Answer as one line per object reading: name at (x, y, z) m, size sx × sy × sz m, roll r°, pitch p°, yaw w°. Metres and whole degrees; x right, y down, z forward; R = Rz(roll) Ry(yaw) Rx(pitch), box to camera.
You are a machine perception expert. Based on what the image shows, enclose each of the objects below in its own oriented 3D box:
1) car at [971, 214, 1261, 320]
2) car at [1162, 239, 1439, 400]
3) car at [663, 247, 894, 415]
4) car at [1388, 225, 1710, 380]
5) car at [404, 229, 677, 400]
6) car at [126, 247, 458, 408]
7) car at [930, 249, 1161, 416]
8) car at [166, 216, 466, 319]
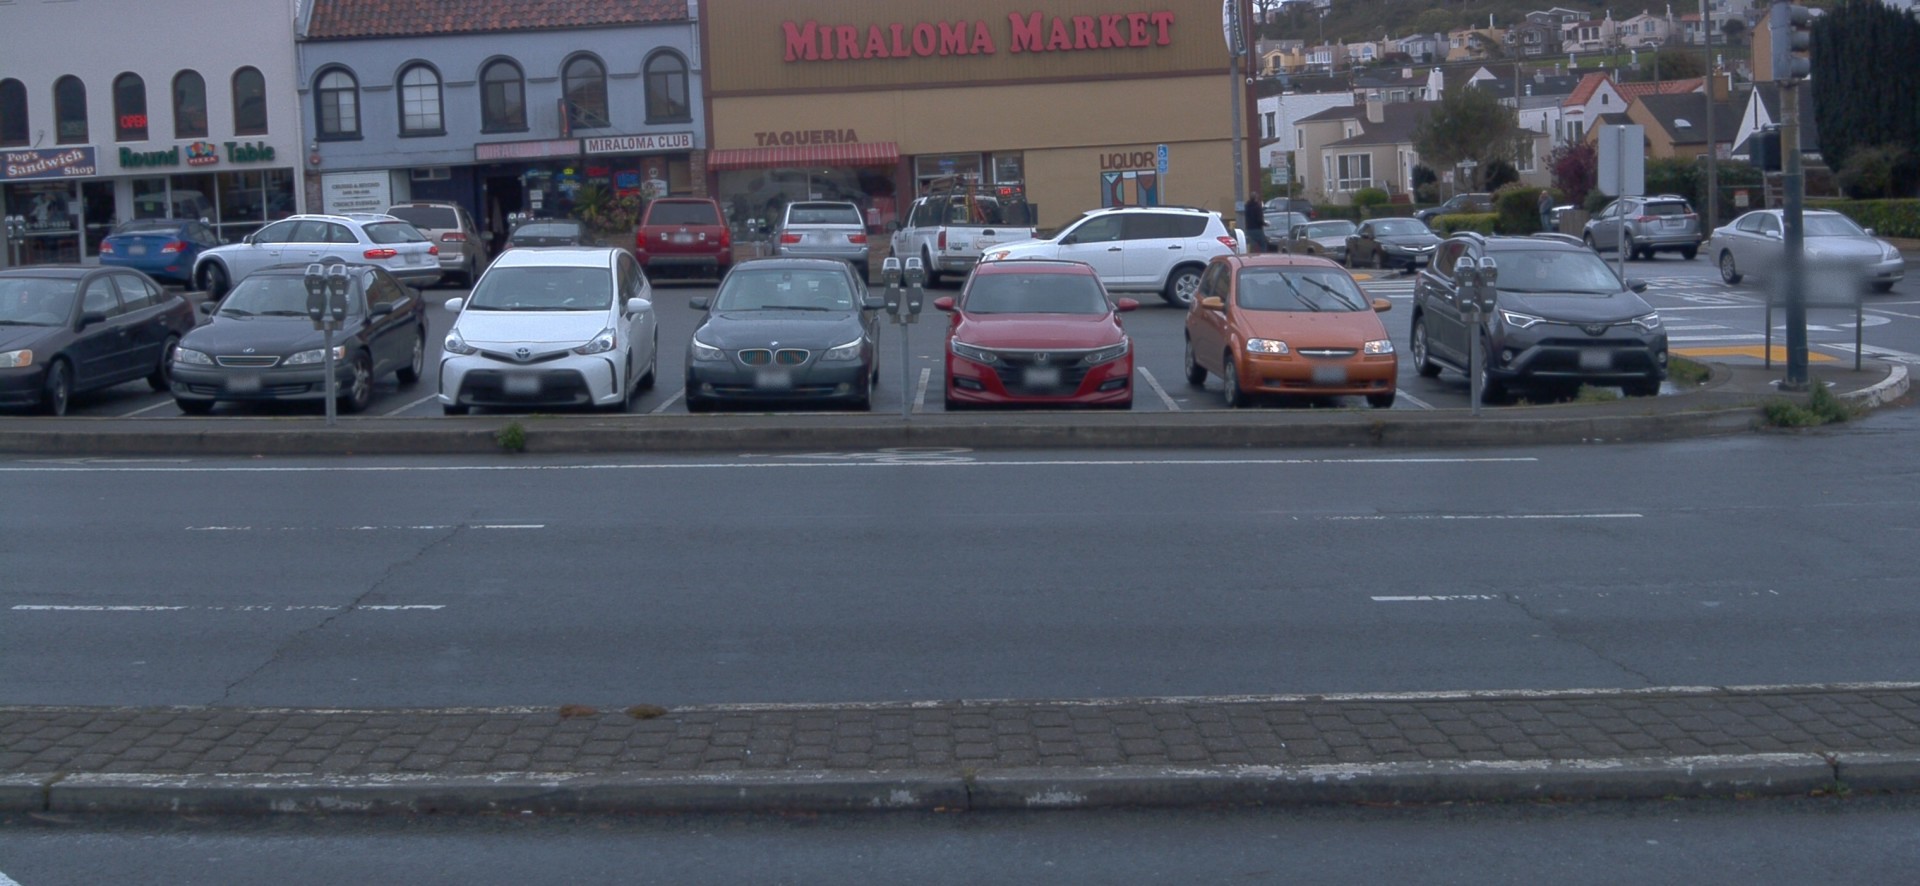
car at (2.594, -3.030, 35.165) m, size 4.741 × 1.734 × 2.063 m, roll 0°, pitch 4°, yaw -2°
car at (3.476, -1.386, 21.825) m, size 2.049 × 1.462 × 4.037 m, roll 0°, pitch 6°, yaw -4°
car at (-1.778, -1.272, 21.658) m, size 2.112 × 1.461 × 4.574 m, roll 0°, pitch 6°, yaw -1°
car at (6.270, -1.621, 22.575) m, size 2.205 × 1.461 × 4.580 m, roll 0°, pitch 6°, yaw 0°
car at (-4.169, -1.423, 21.282) m, size 2.132 × 1.491 × 4.678 m, roll 0°, pitch 6°, yaw -4°
car at (-6.838, -1.302, 21.703) m, size 2.023 × 1.392 × 4.712 m, roll 0°, pitch 6°, yaw -1°
car at (0.787, -1.261, 21.830) m, size 2.185 × 1.461 × 4.636 m, roll 0°, pitch 6°, yaw -1°
car at (-10.840, -2.997, 34.700) m, size 4.637 × 1.603 × 2.088 m, roll 3°, pitch 6°, yaw 26°
